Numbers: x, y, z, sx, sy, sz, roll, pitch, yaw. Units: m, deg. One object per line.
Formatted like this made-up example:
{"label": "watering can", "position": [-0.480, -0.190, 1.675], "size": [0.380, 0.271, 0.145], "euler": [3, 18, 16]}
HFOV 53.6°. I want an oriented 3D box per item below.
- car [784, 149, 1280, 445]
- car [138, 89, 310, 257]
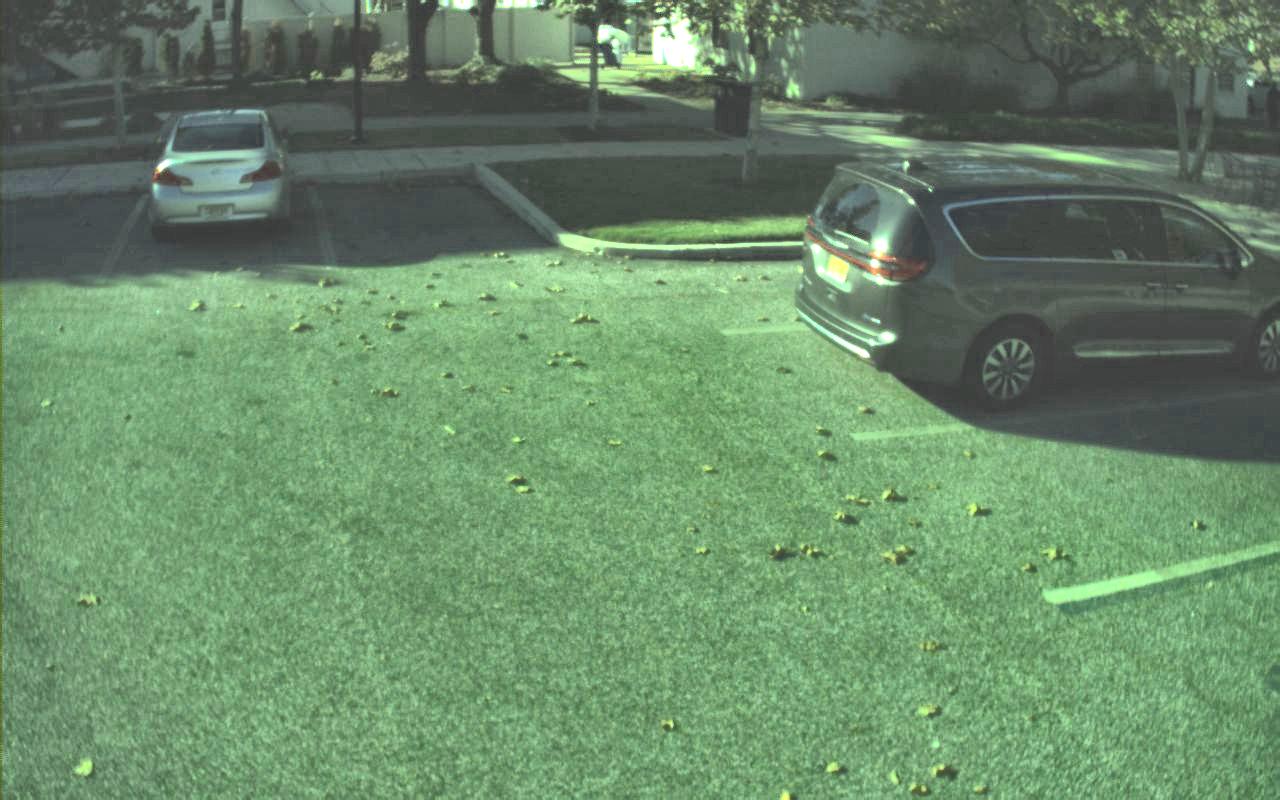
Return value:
{"label": "car", "position": [3.829, -1.093, 10.019], "size": [4.921, 1.809, 2.064], "euler": [-6, 17, -17]}
{"label": "car", "position": [-5.369, -3.066, 15.420], "size": [1.939, 1.582, 4.490], "euler": [-6, 17, -17]}
